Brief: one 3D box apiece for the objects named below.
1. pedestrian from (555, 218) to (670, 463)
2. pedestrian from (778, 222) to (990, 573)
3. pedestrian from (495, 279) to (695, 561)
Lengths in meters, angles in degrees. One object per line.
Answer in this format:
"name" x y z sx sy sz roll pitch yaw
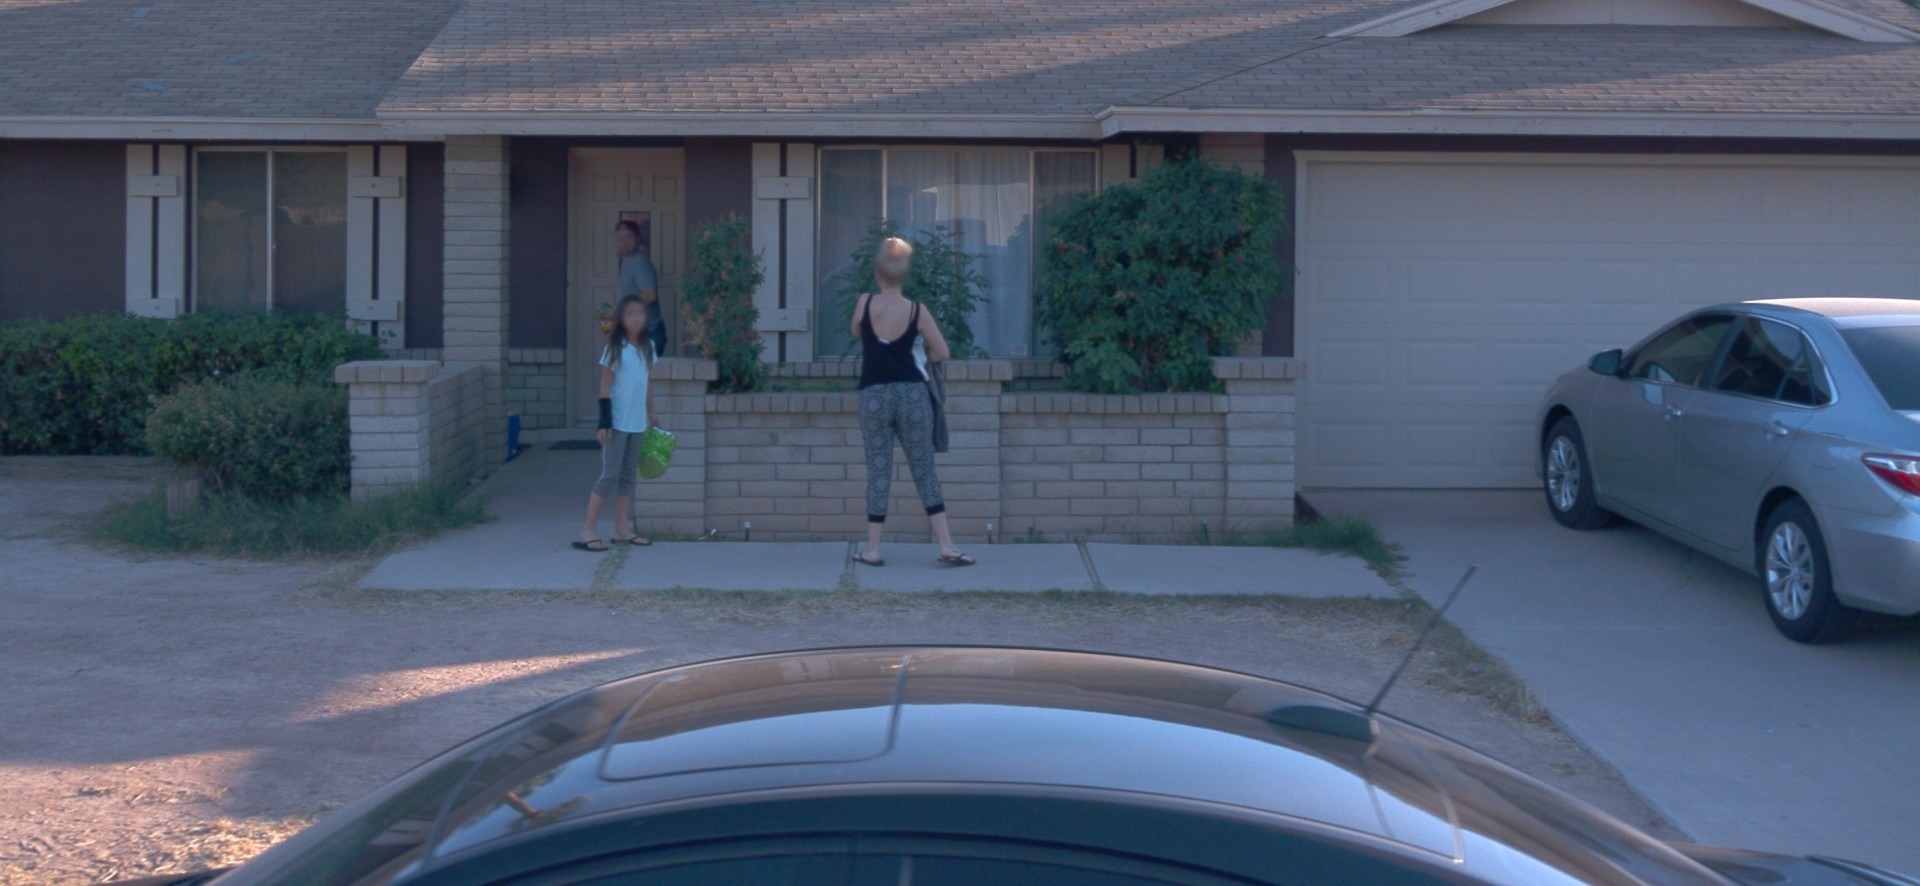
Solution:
"pedestrian" -2.533 -0.769 15.125 0.667 1.729 0.665 0 1 -24
"pedestrian" -0.412 -0.282 10.911 0.874 1.749 0.830 0 2 -22
"pedestrian" -1.973 -0.162 11.261 0.743 1.429 0.759 2 2 41
